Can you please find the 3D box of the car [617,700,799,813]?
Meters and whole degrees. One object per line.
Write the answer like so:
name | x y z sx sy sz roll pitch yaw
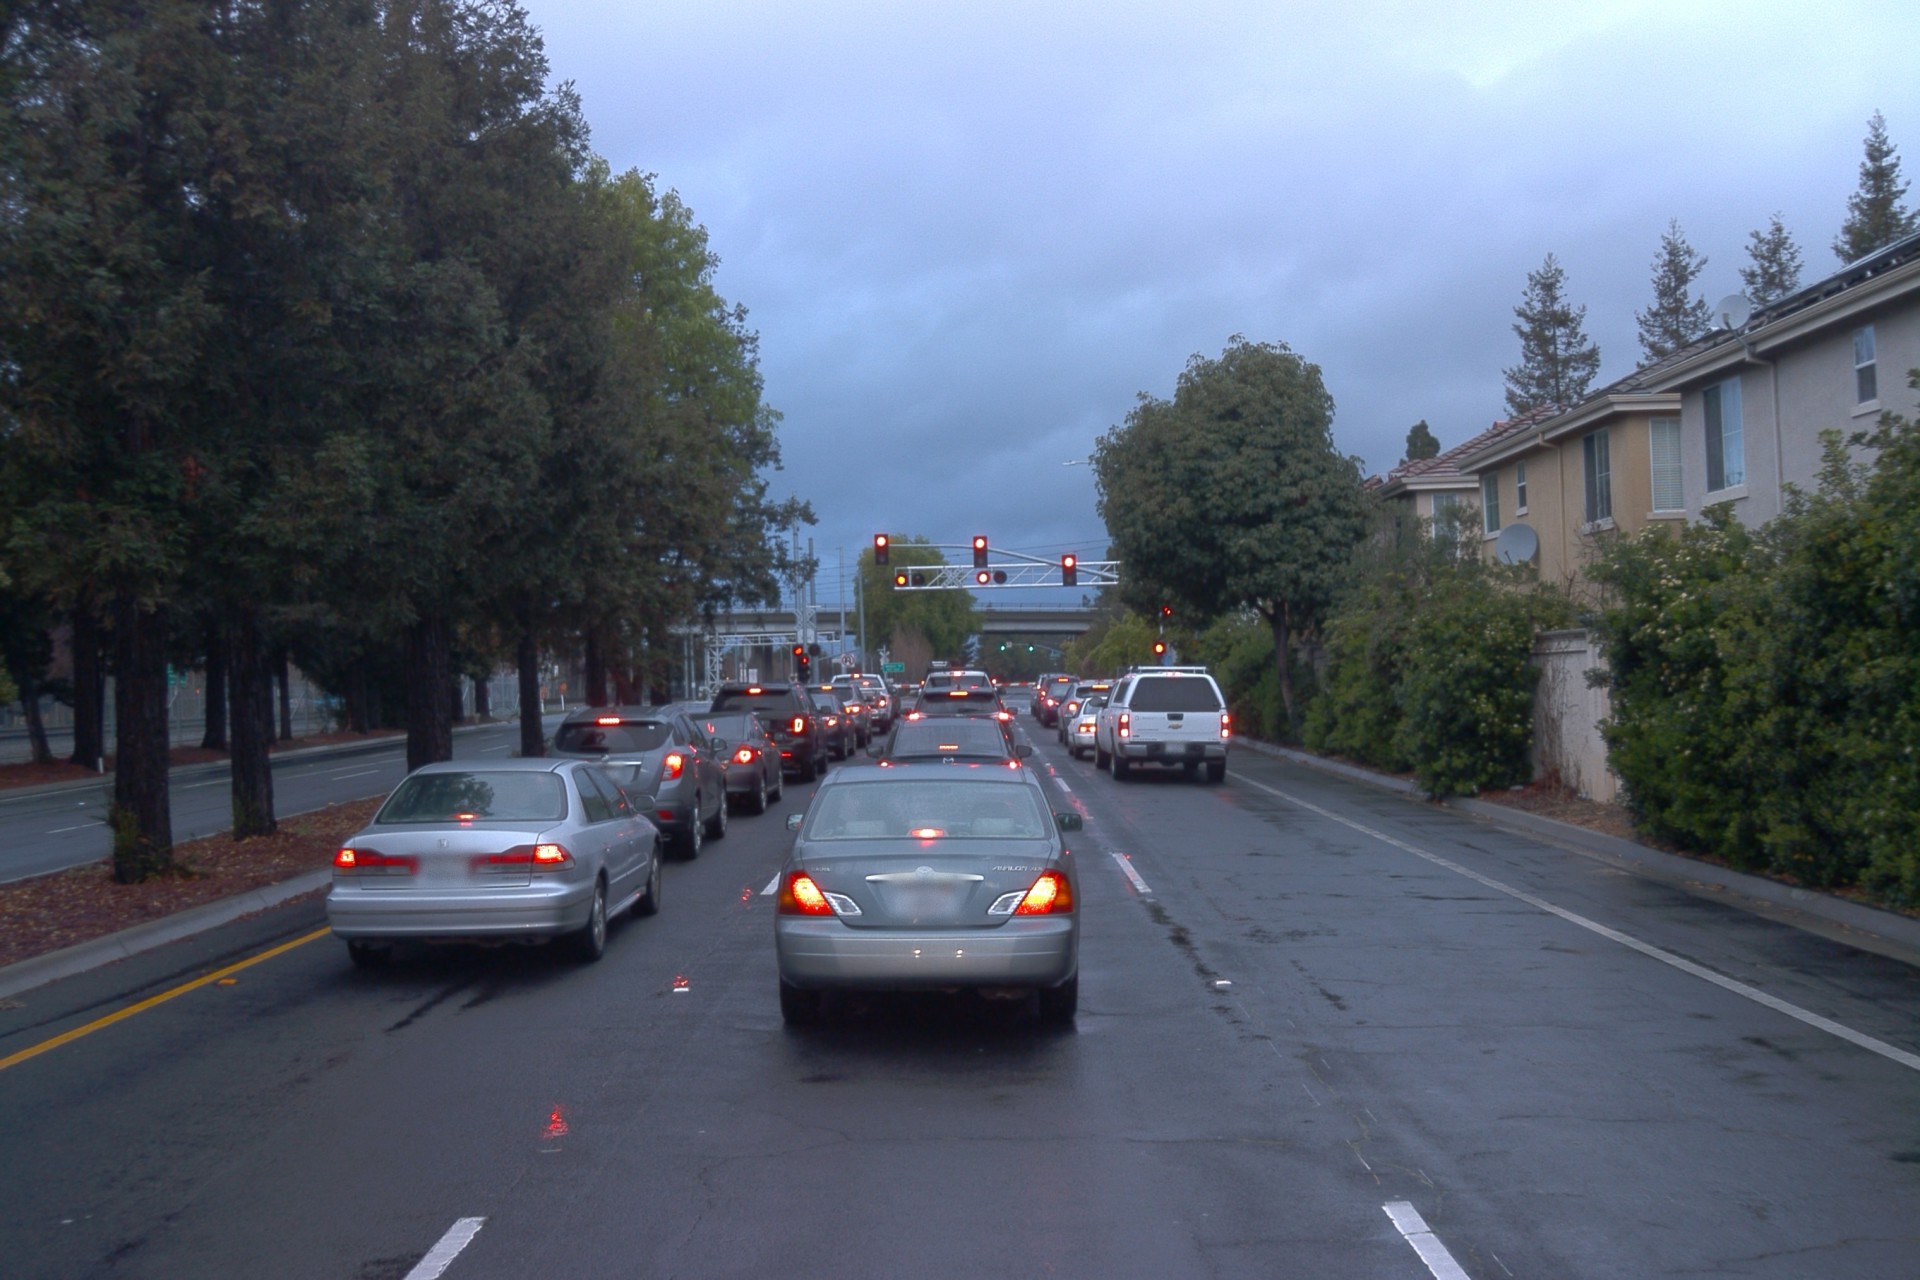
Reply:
car | -3.575 1.637 30.245 2.021 1.460 4.541 0 -1 1

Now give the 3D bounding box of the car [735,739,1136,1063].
car | -0.159 1.479 13.233 2.105 1.550 4.676 0 -1 -1

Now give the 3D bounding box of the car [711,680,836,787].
car | -3.335 1.649 37.887 2.021 1.810 4.543 0 -1 -2

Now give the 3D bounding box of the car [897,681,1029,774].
car | 0.011 1.528 37.526 2.231 1.560 4.585 0 -1 -1

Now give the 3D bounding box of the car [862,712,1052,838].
car | -0.093 1.560 25.053 2.081 1.290 4.552 0 -1 -1

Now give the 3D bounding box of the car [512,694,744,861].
car | -3.679 1.491 23.696 1.936 1.700 4.080 0 -1 1

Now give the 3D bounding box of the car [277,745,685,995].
car | -3.461 1.632 15.948 2.021 1.480 4.541 0 -1 1
